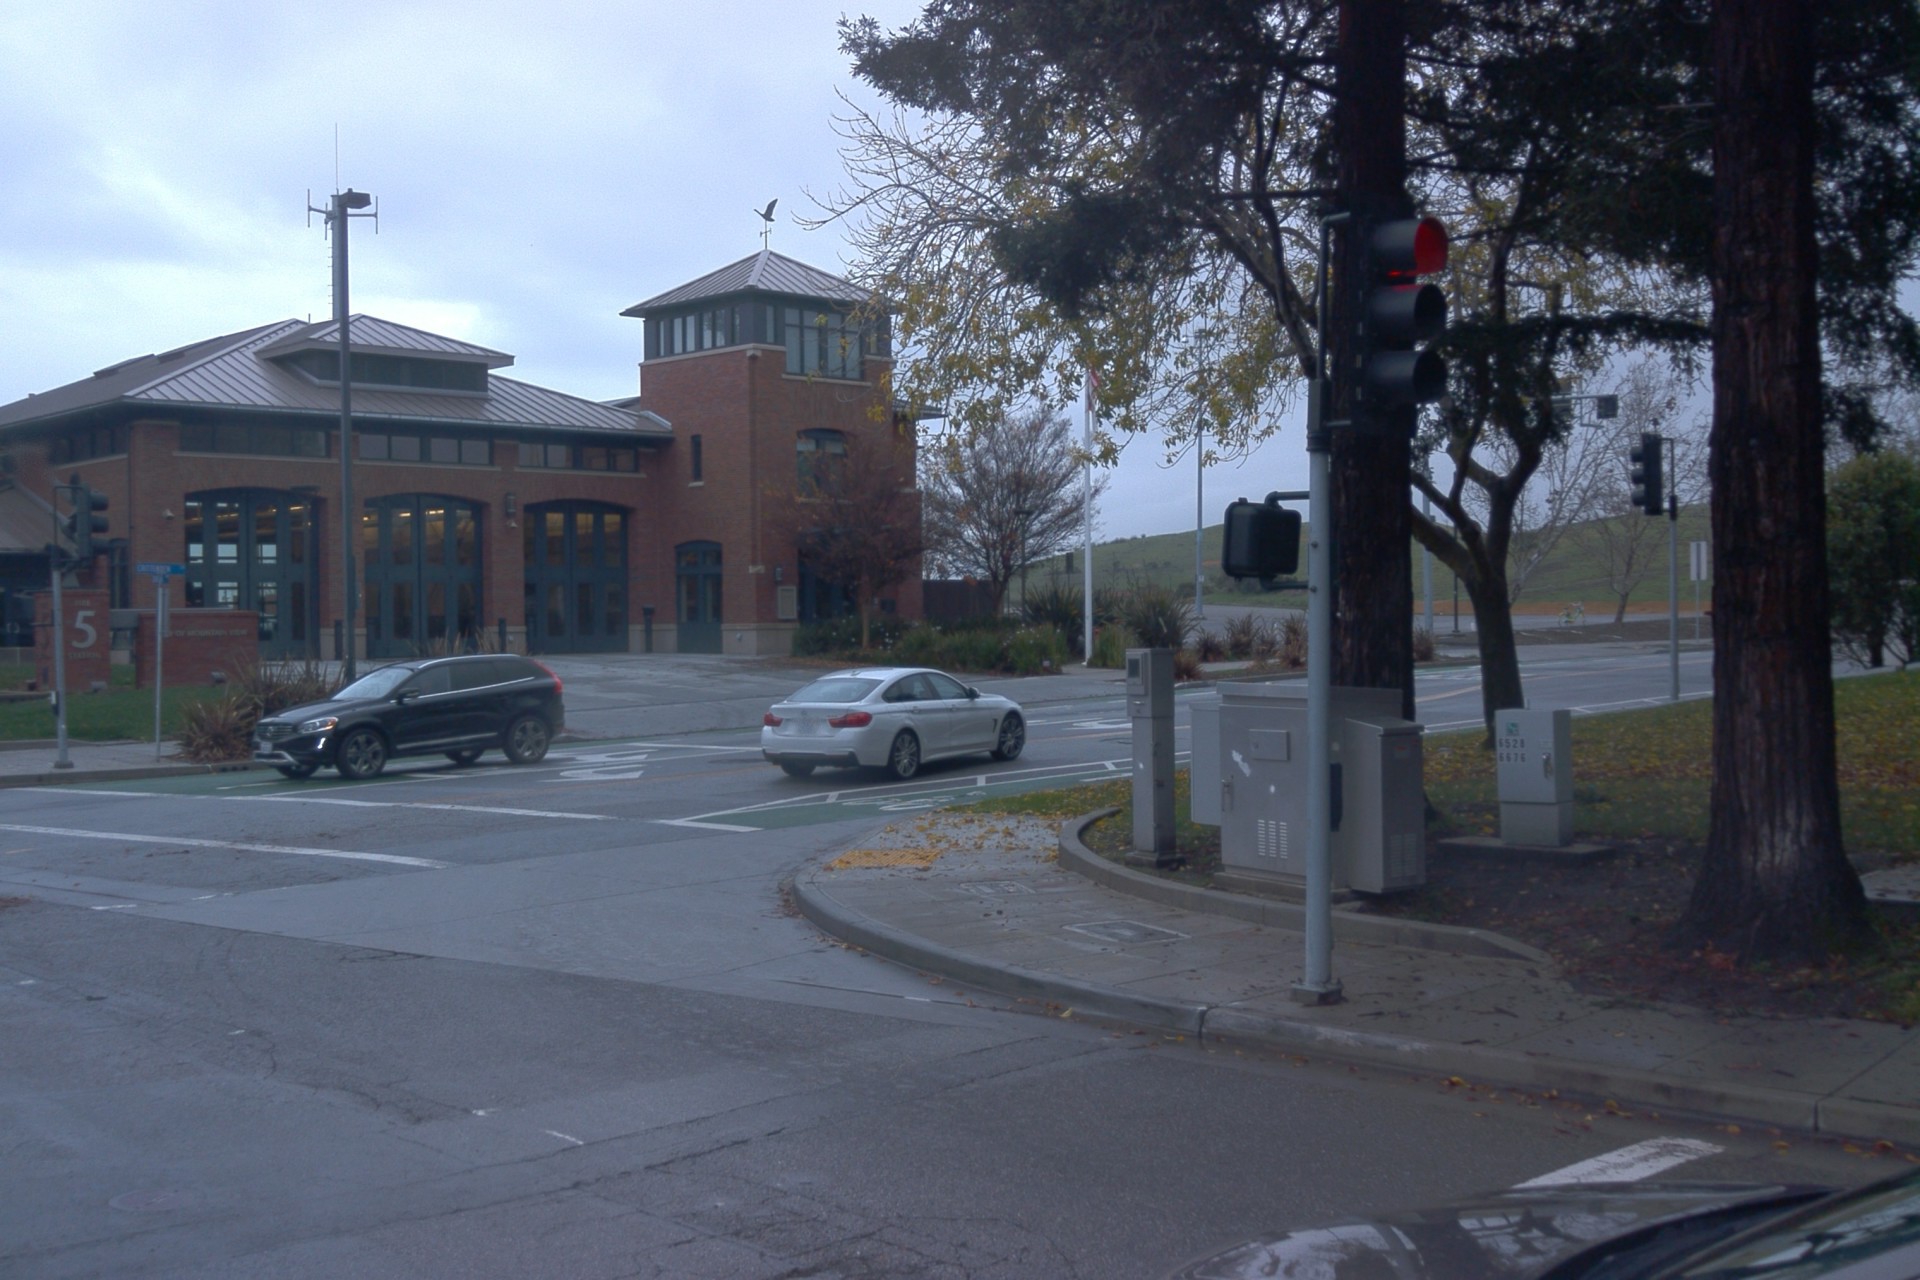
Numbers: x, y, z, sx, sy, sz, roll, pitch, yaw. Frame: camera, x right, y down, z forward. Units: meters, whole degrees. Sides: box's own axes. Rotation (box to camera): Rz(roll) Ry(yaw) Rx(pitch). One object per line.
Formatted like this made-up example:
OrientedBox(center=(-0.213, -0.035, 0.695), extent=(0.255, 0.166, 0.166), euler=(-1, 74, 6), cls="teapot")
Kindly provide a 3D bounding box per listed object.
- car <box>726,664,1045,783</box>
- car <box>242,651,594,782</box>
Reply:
OrientedBox(center=(-0.896, 1.050, 27.935), extent=(2.142, 1.420, 4.549), euler=(0, 0, 31), cls="car")
OrientedBox(center=(-7.892, 1.048, 30.660), extent=(2.096, 1.770, 4.667), euler=(0, 0, 40), cls="car")
